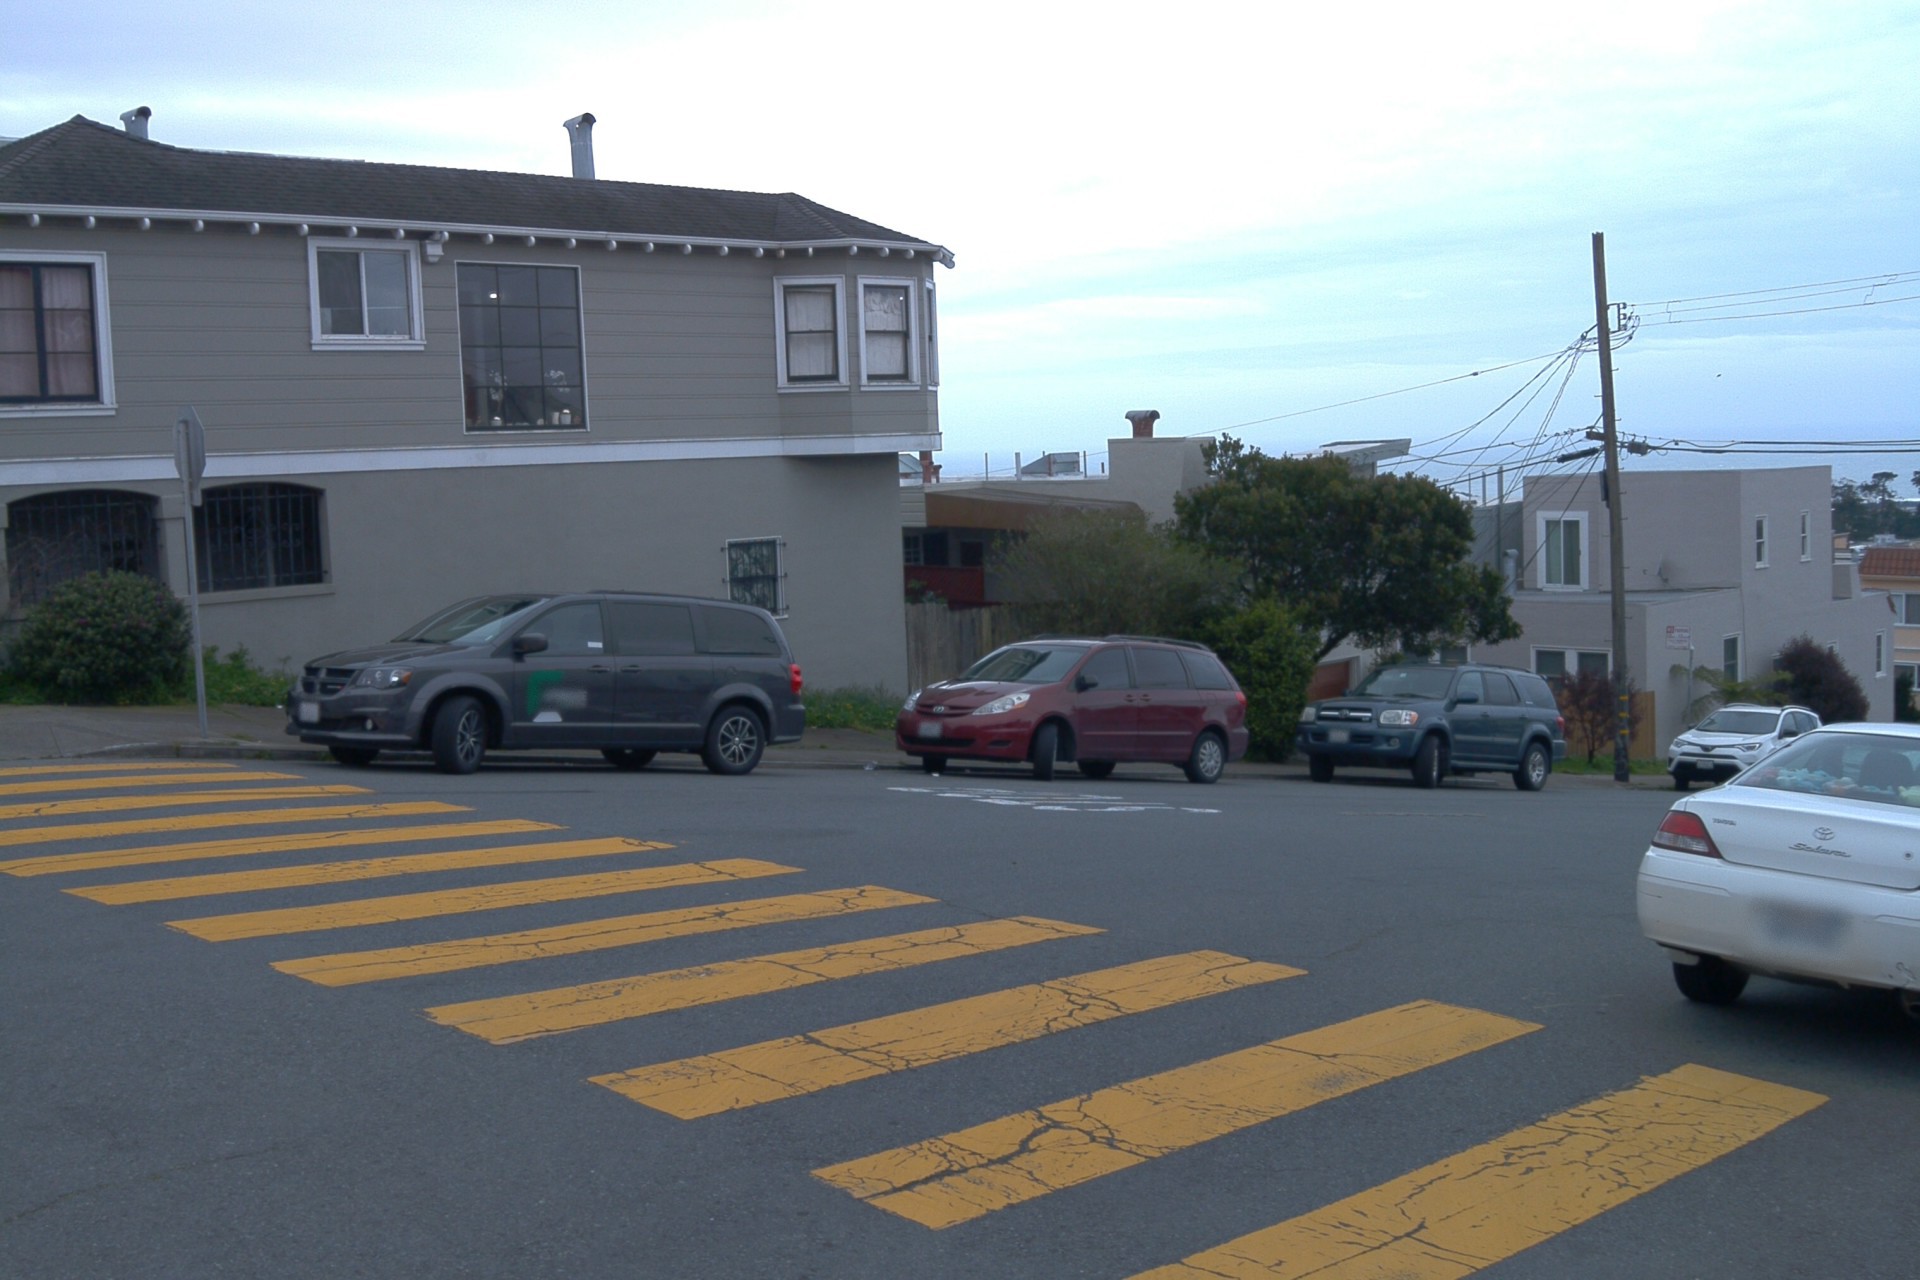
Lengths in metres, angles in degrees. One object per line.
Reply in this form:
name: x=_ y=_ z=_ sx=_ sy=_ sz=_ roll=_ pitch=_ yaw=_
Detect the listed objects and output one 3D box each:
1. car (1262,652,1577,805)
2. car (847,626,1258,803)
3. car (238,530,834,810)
car: x=6.926 y=1.222 z=30.695 sx=2.274 sy=2.070 sz=5.038 roll=0 pitch=0 yaw=44
car: x=1.240 y=0.822 z=25.198 sx=2.318 sy=1.940 sz=5.031 roll=0 pitch=0 yaw=43
car: x=-3.918 y=0.251 z=19.749 sx=5.158 sy=2.320 sz=2.337 roll=0 pitch=0 yaw=-45
